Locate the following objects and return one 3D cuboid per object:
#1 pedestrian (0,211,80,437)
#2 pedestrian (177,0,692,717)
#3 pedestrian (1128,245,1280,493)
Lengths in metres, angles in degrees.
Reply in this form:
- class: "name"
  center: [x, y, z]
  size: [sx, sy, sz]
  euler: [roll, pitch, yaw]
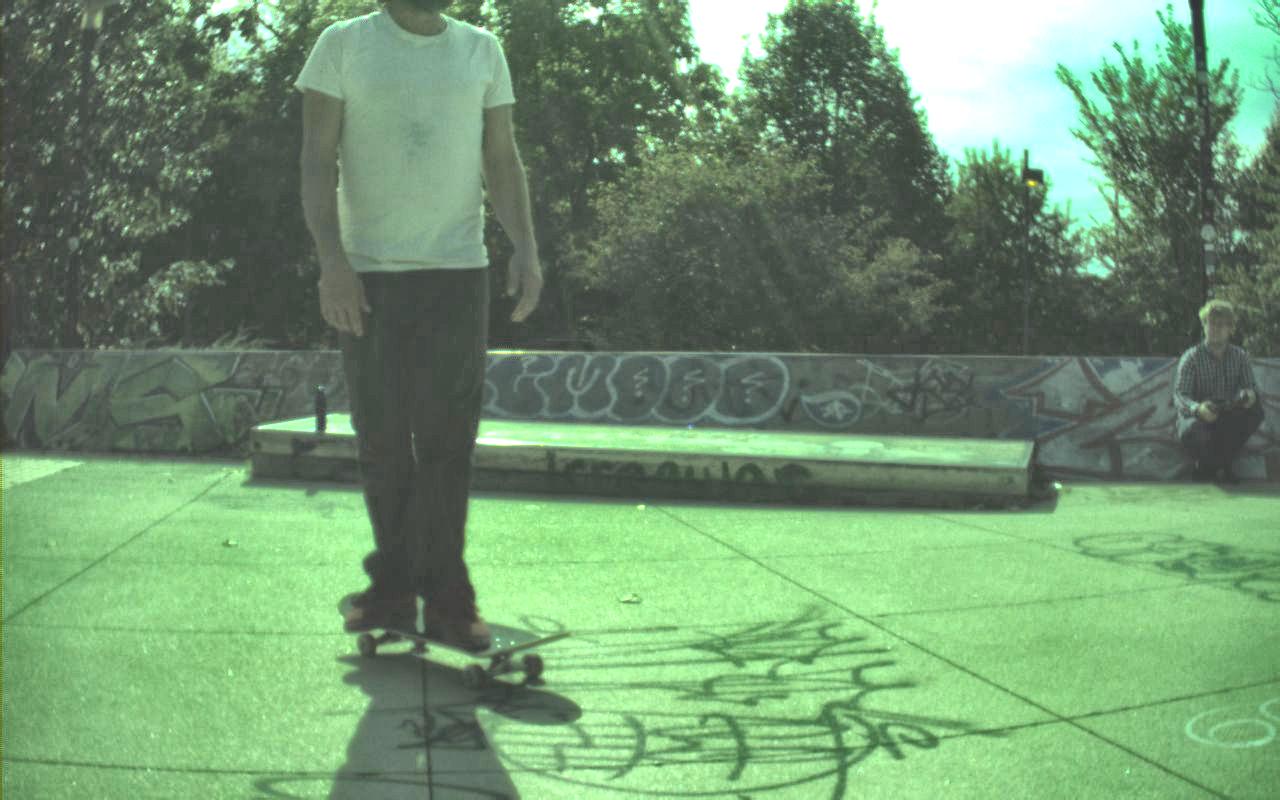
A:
- class: "pedestrian"
  center: [-5.025, -0.561, 8.883]
  size: [0.833, 1.708, 0.818]
  euler: [1, 0, 16]
- class: "pedestrian"
  center: [-0.501, -0.303, 2.859]
  size: [0.912, 1.760, 0.840]
  euler: [1, 0, 39]
- class: "pedestrian"
  center: [3.596, -0.173, 7.108]
  size: [0.898, 1.417, 0.838]
  euler: [0, 0, -20]
